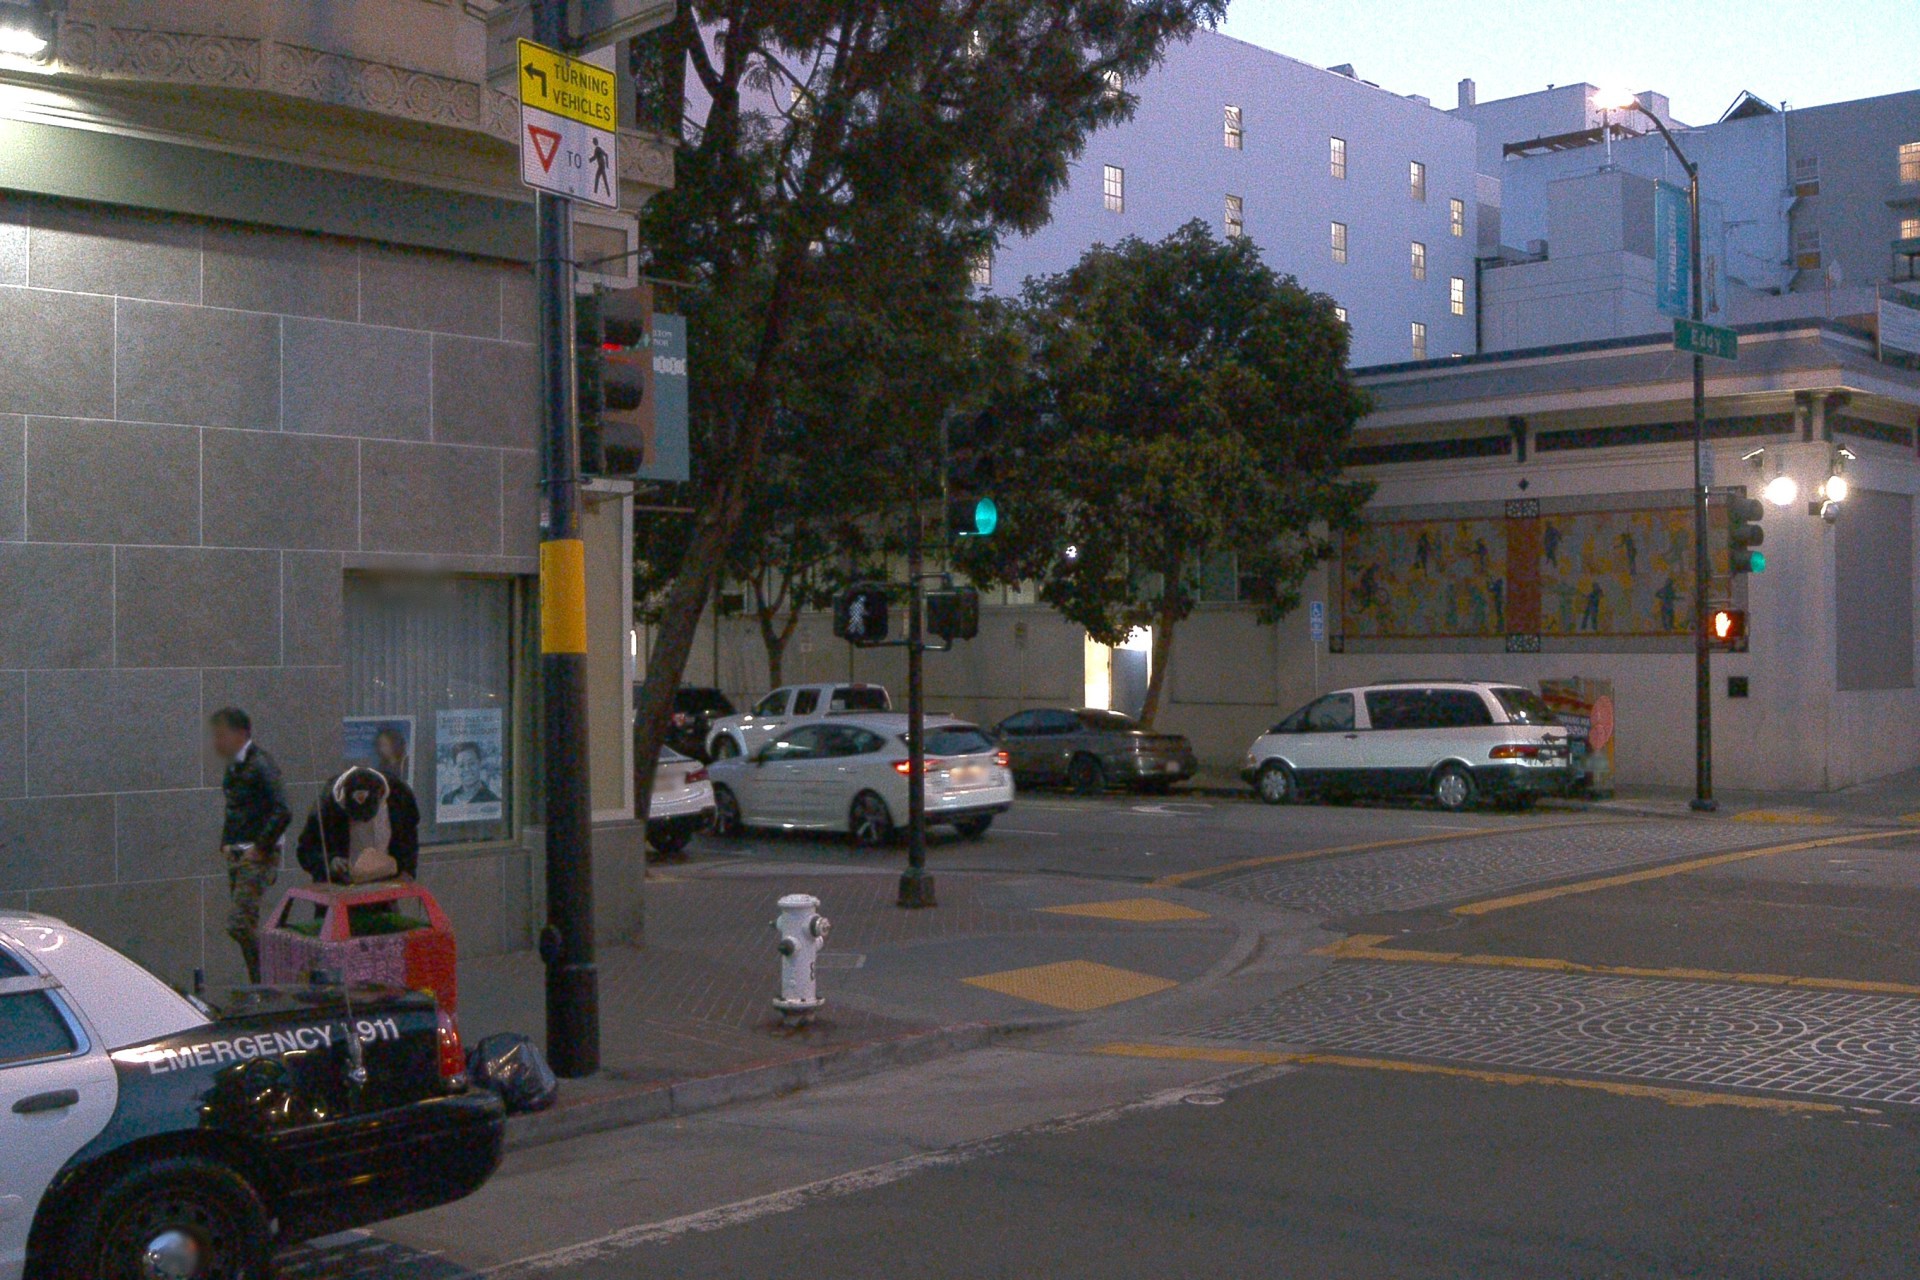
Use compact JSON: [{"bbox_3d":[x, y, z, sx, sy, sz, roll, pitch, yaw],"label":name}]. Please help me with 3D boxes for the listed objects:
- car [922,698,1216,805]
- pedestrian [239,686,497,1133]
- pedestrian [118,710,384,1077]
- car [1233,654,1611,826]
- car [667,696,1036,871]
[{"bbox_3d":[1.705,1.754,33.591,1.916,1.390,4.727,-1,1,-45],"label":"car"},{"bbox_3d":[-2.881,1.243,10.024,0.983,1.990,0.865,-1,1,-33],"label":"pedestrian"},{"bbox_3d":[-4.008,1.375,11.694,0.870,1.880,1.123,1,1,40],"label":"pedestrian"},{"bbox_3d":[6.359,1.292,28.798,4.809,2.080,2.006,1,1,44],"label":"car"},{"bbox_3d":[-1.369,1.608,24.495,1.941,1.670,4.443,-1,1,-44],"label":"car"}]
